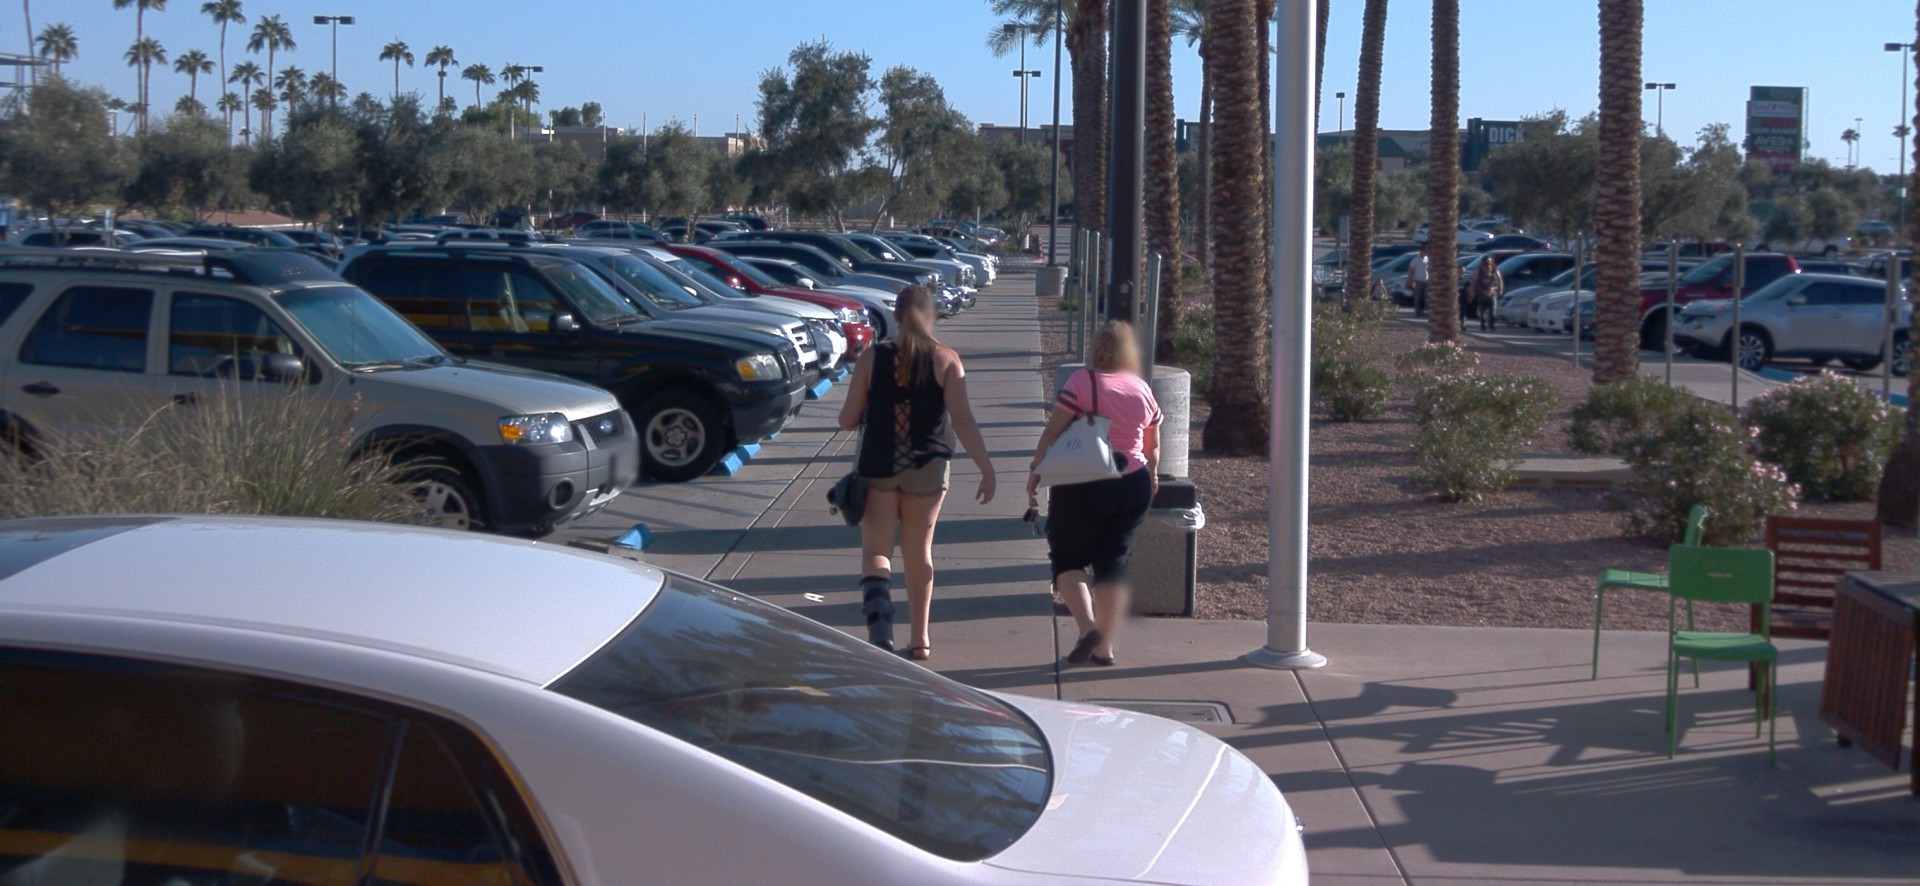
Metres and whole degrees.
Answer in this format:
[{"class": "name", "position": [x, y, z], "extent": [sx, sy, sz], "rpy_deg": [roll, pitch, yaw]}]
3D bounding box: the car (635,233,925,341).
[{"class": "car", "position": [-3.079, -2.745, 36.225], "extent": [4.853, 1.736, 1.871], "rpy_deg": [1, 4, 0]}]

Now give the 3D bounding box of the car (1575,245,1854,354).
[{"class": "car", "position": [12.868, -2.489, 35.570], "extent": [4.039, 1.726, 2.032], "rpy_deg": [1, 4, -1]}]

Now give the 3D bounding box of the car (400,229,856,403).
[{"class": "car", "position": [-3.697, -1.496, 23.691], "extent": [4.762, 1.805, 2.091], "rpy_deg": [1, 4, 3]}]

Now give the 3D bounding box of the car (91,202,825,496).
[{"class": "car", "position": [-3.906, -0.839, 16.882], "extent": [5.348, 2.135, 2.268], "rpy_deg": [1, 4, 2]}]

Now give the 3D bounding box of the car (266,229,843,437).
[{"class": "car", "position": [-3.760, -1.130, 19.922], "extent": [4.915, 1.765, 2.429], "rpy_deg": [1, 4, 5]}]

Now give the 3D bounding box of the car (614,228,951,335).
[{"class": "car", "position": [-3.248, -3.072, 39.067], "extent": [6.083, 1.845, 2.452], "rpy_deg": [1, 4, 1]}]

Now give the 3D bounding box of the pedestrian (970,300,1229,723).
[{"class": "pedestrian", "position": [0.619, 0.265, 9.623], "extent": [1.001, 1.808, 1.002], "rpy_deg": [1, 2, -7]}]

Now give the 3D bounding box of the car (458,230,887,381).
[{"class": "car", "position": [-3.573, -1.797, 26.492], "extent": [5.084, 1.755, 2.151], "rpy_deg": [1, 4, 3]}]

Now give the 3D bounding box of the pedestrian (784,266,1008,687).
[{"class": "pedestrian", "position": [-0.329, 0.103, 9.779], "extent": [0.949, 1.828, 1.141], "rpy_deg": [1, 2, -6]}]
